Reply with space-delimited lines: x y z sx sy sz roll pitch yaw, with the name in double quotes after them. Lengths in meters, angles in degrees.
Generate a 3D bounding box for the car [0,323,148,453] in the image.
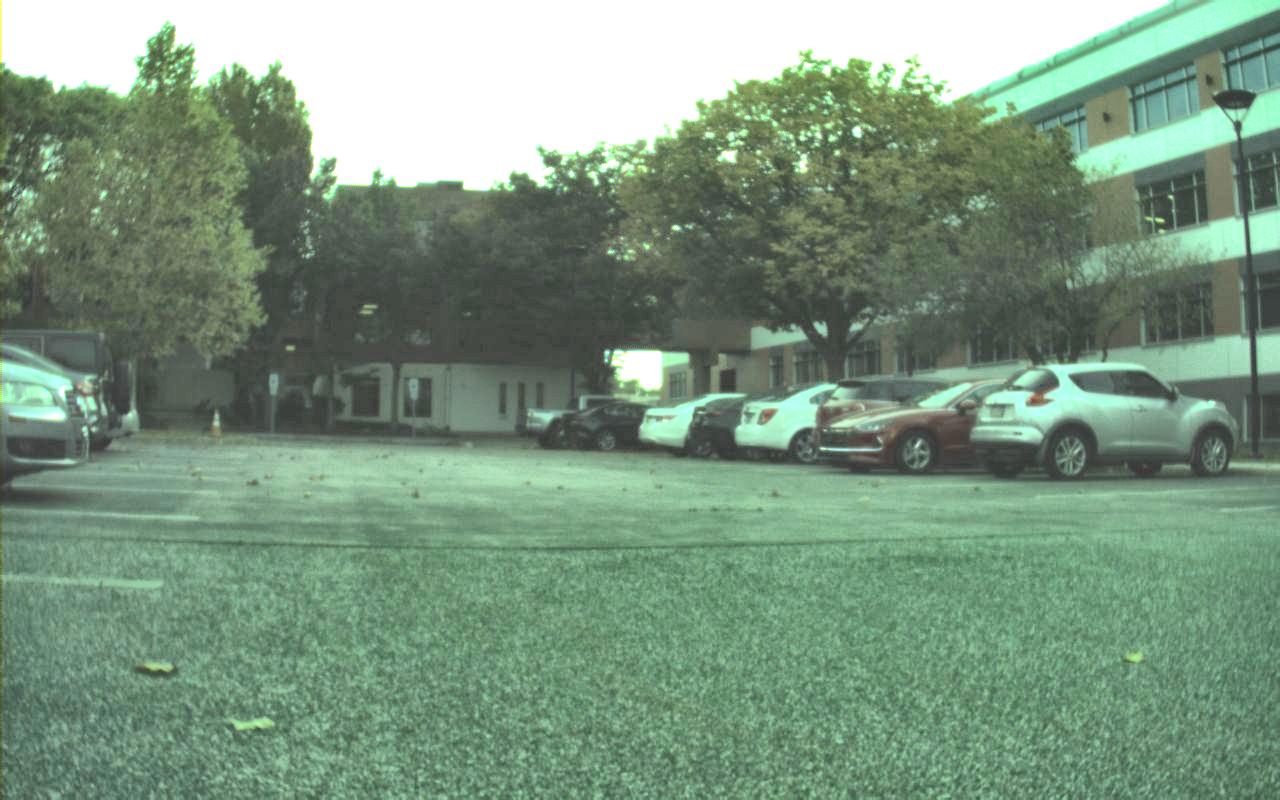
-9.556 -0.145 16.547 4.686 1.798 2.023 0 1 -20 "car"

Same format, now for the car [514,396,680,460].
-1.417 0.865 40.701 5.019 1.917 2.094 0 1 -18 "car"

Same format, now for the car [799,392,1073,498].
5.114 0.714 21.242 4.414 1.628 1.946 0 1 -15 "car"

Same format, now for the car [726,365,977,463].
4.044 0.225 23.861 4.444 1.751 1.940 0 1 -16 "car"

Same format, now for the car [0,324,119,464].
-8.867 -0.055 14.049 4.489 1.655 1.974 0 1 -19 "car"

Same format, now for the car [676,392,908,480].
3.166 0.692 26.173 4.440 1.670 1.948 0 1 -18 "car"

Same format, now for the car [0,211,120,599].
-5.802 -0.012 6.982 4.650 1.637 1.993 0 1 -18 "car"

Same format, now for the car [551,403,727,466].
-0.026 0.940 35.854 4.599 1.601 1.956 0 1 -25 "car"

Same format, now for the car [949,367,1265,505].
6.412 0.424 16.107 4.210 1.663 1.876 0 1 -15 "car"

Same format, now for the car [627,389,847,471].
2.177 0.644 28.515 4.588 1.719 1.992 0 1 -15 "car"

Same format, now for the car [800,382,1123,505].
4.877 0.580 18.447 4.594 1.644 1.964 0 1 -16 "car"
